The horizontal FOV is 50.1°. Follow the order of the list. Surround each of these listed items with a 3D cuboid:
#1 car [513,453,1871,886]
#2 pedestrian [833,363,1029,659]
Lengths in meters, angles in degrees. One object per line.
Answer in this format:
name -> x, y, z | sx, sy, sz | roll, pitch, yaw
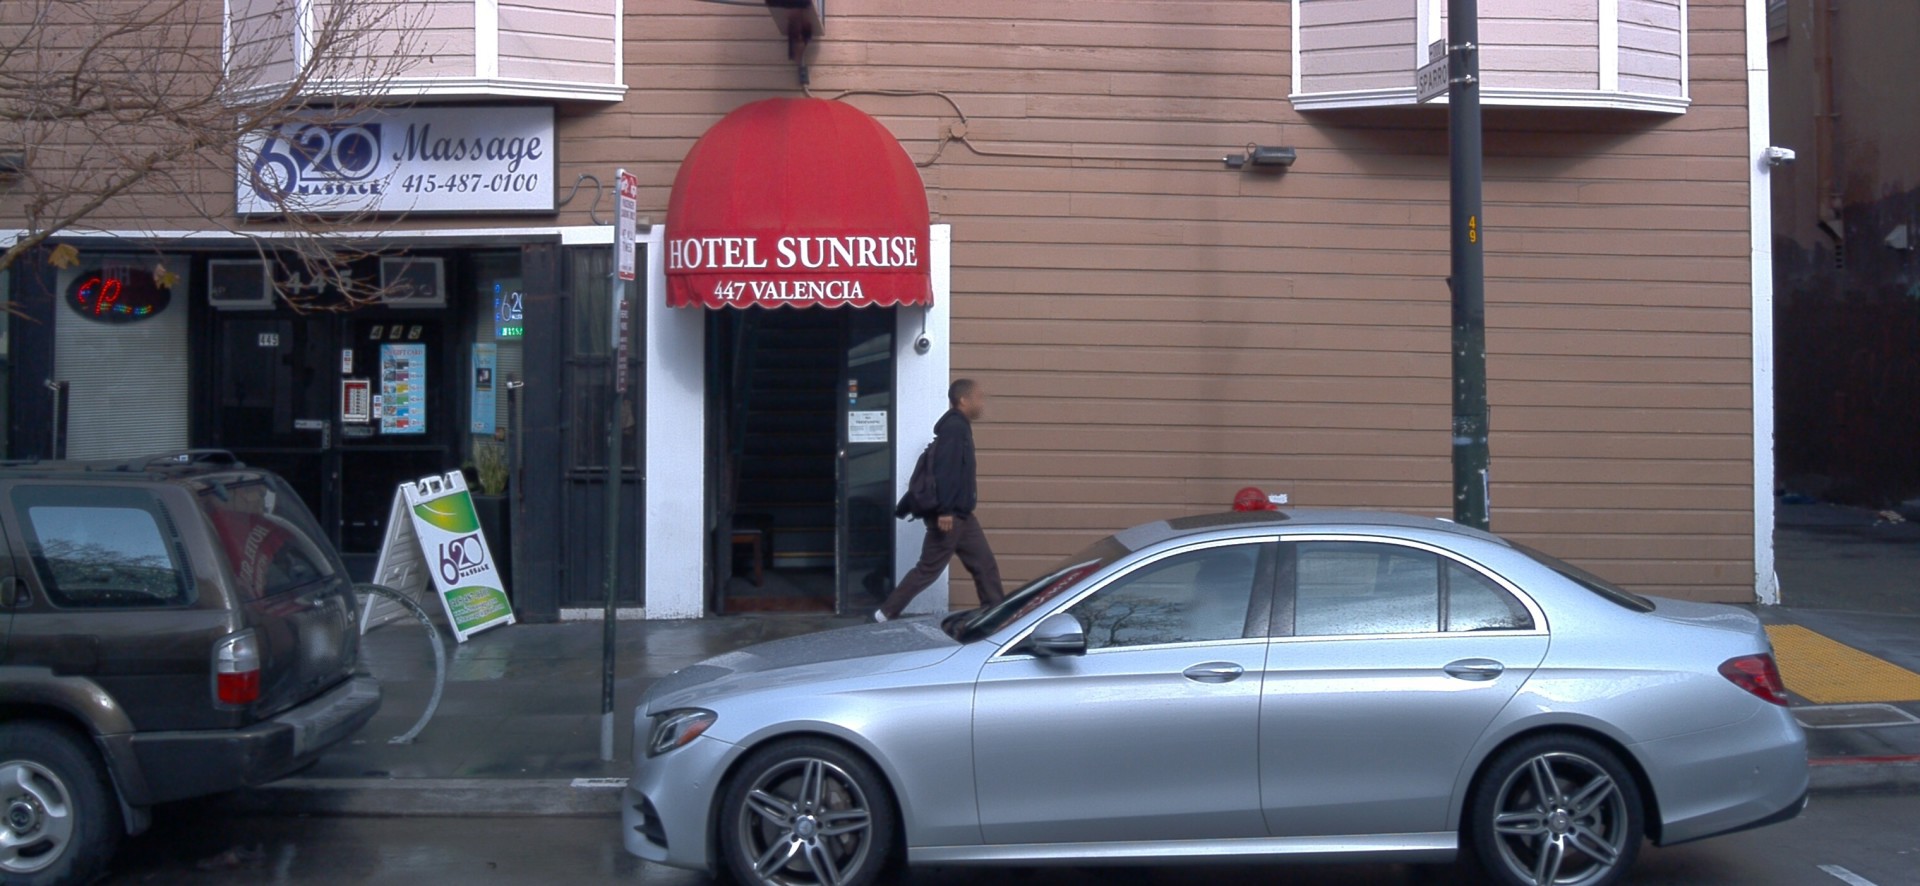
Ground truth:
car -> 0.858, 0.916, 8.594 | 4.948, 1.453, 2.158 | 0, 5, 2
pedestrian -> -0.209, 0.401, 13.319 | 1.183, 1.751, 1.000 | 0, 3, -6
